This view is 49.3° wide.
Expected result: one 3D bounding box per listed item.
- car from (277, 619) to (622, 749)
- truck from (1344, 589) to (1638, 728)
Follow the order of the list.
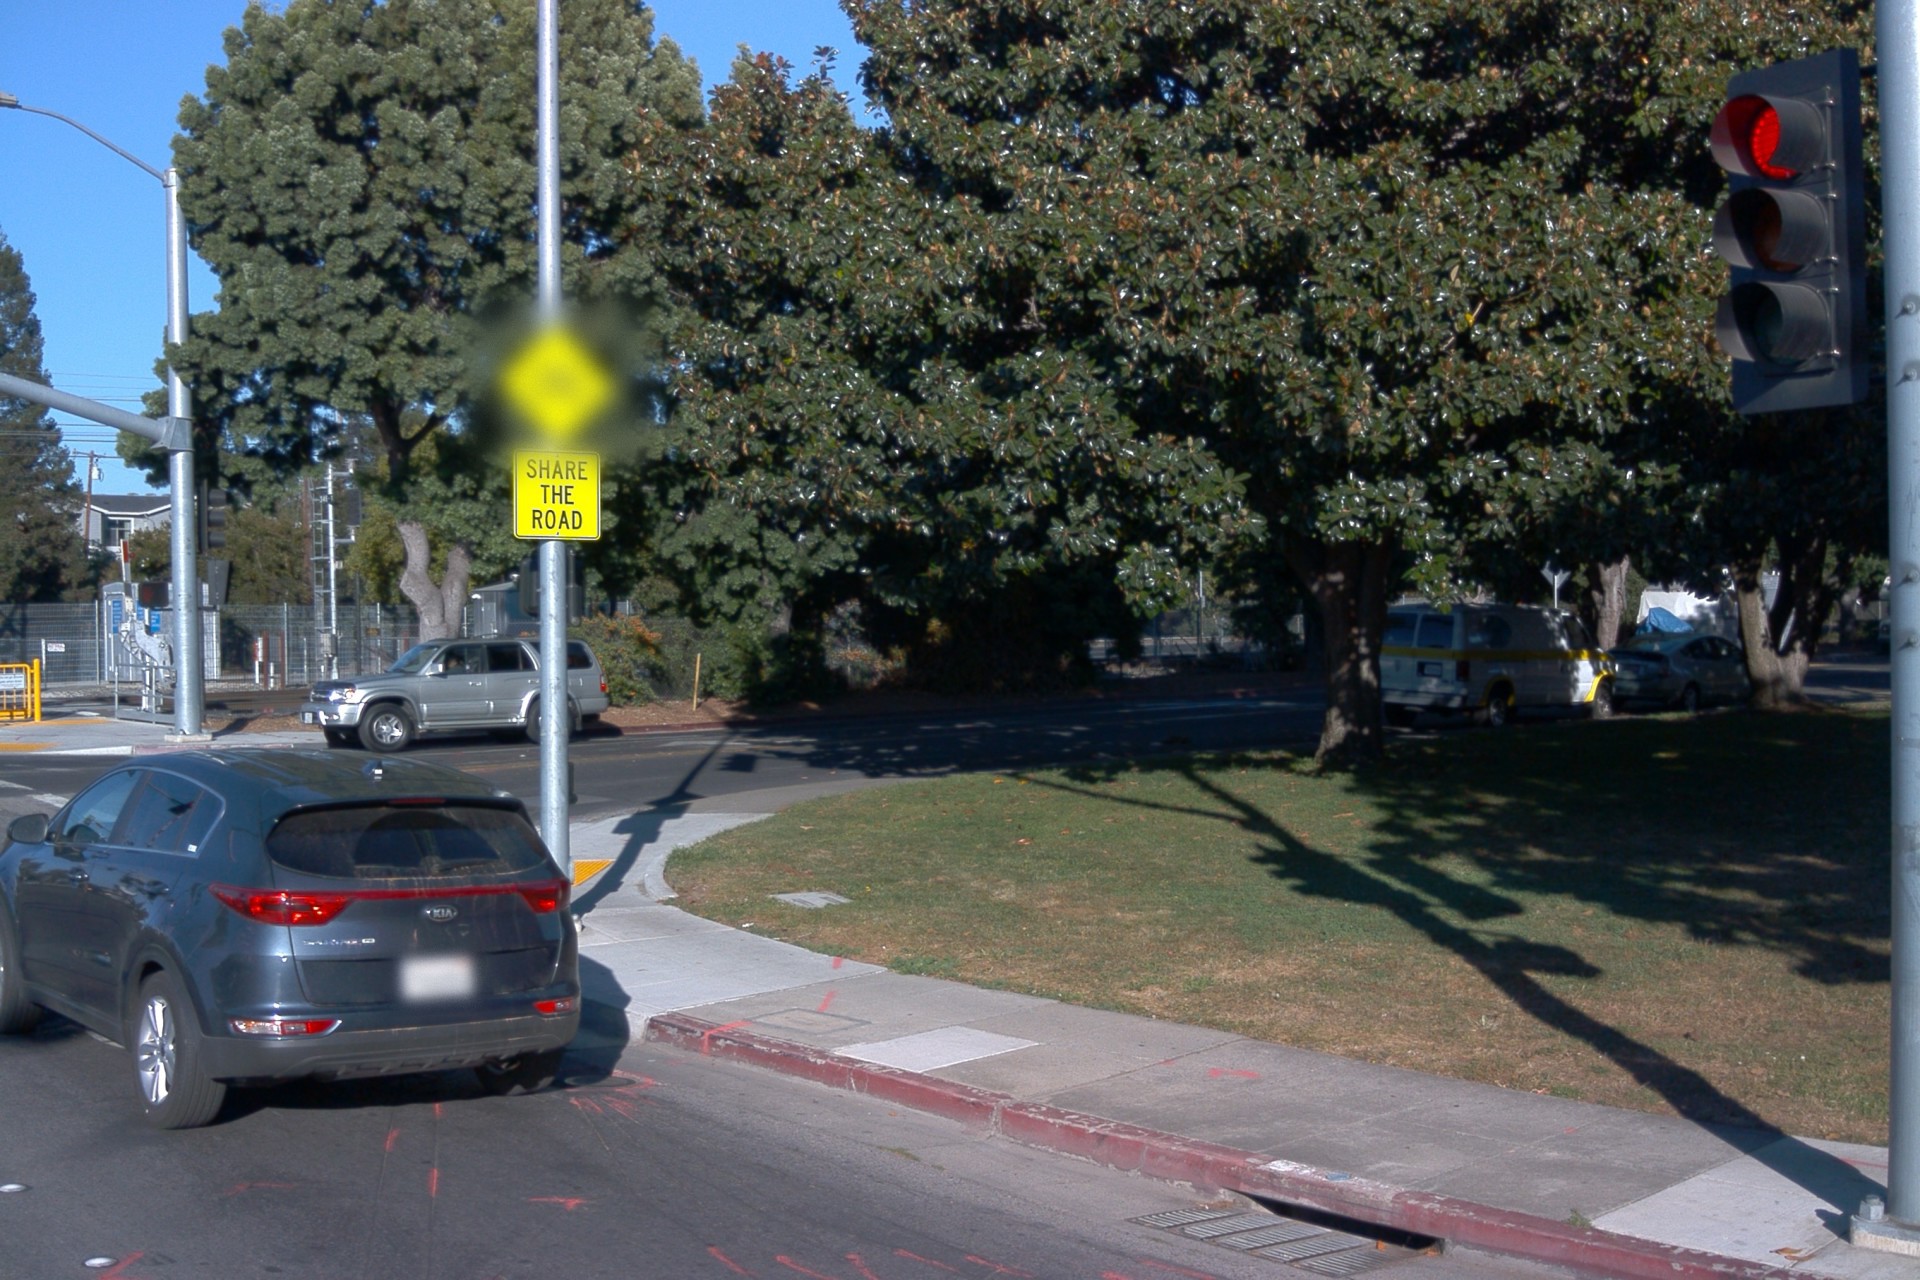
[{"bbox_3d":[-7.952,0.689,32.820,4.806,1.900,2.064,1,-1,-38],"label":"car"},{"bbox_3d":[9.143,0.338,35.710,2.466,2.180,5.325,0,-1,45],"label":"truck"}]
